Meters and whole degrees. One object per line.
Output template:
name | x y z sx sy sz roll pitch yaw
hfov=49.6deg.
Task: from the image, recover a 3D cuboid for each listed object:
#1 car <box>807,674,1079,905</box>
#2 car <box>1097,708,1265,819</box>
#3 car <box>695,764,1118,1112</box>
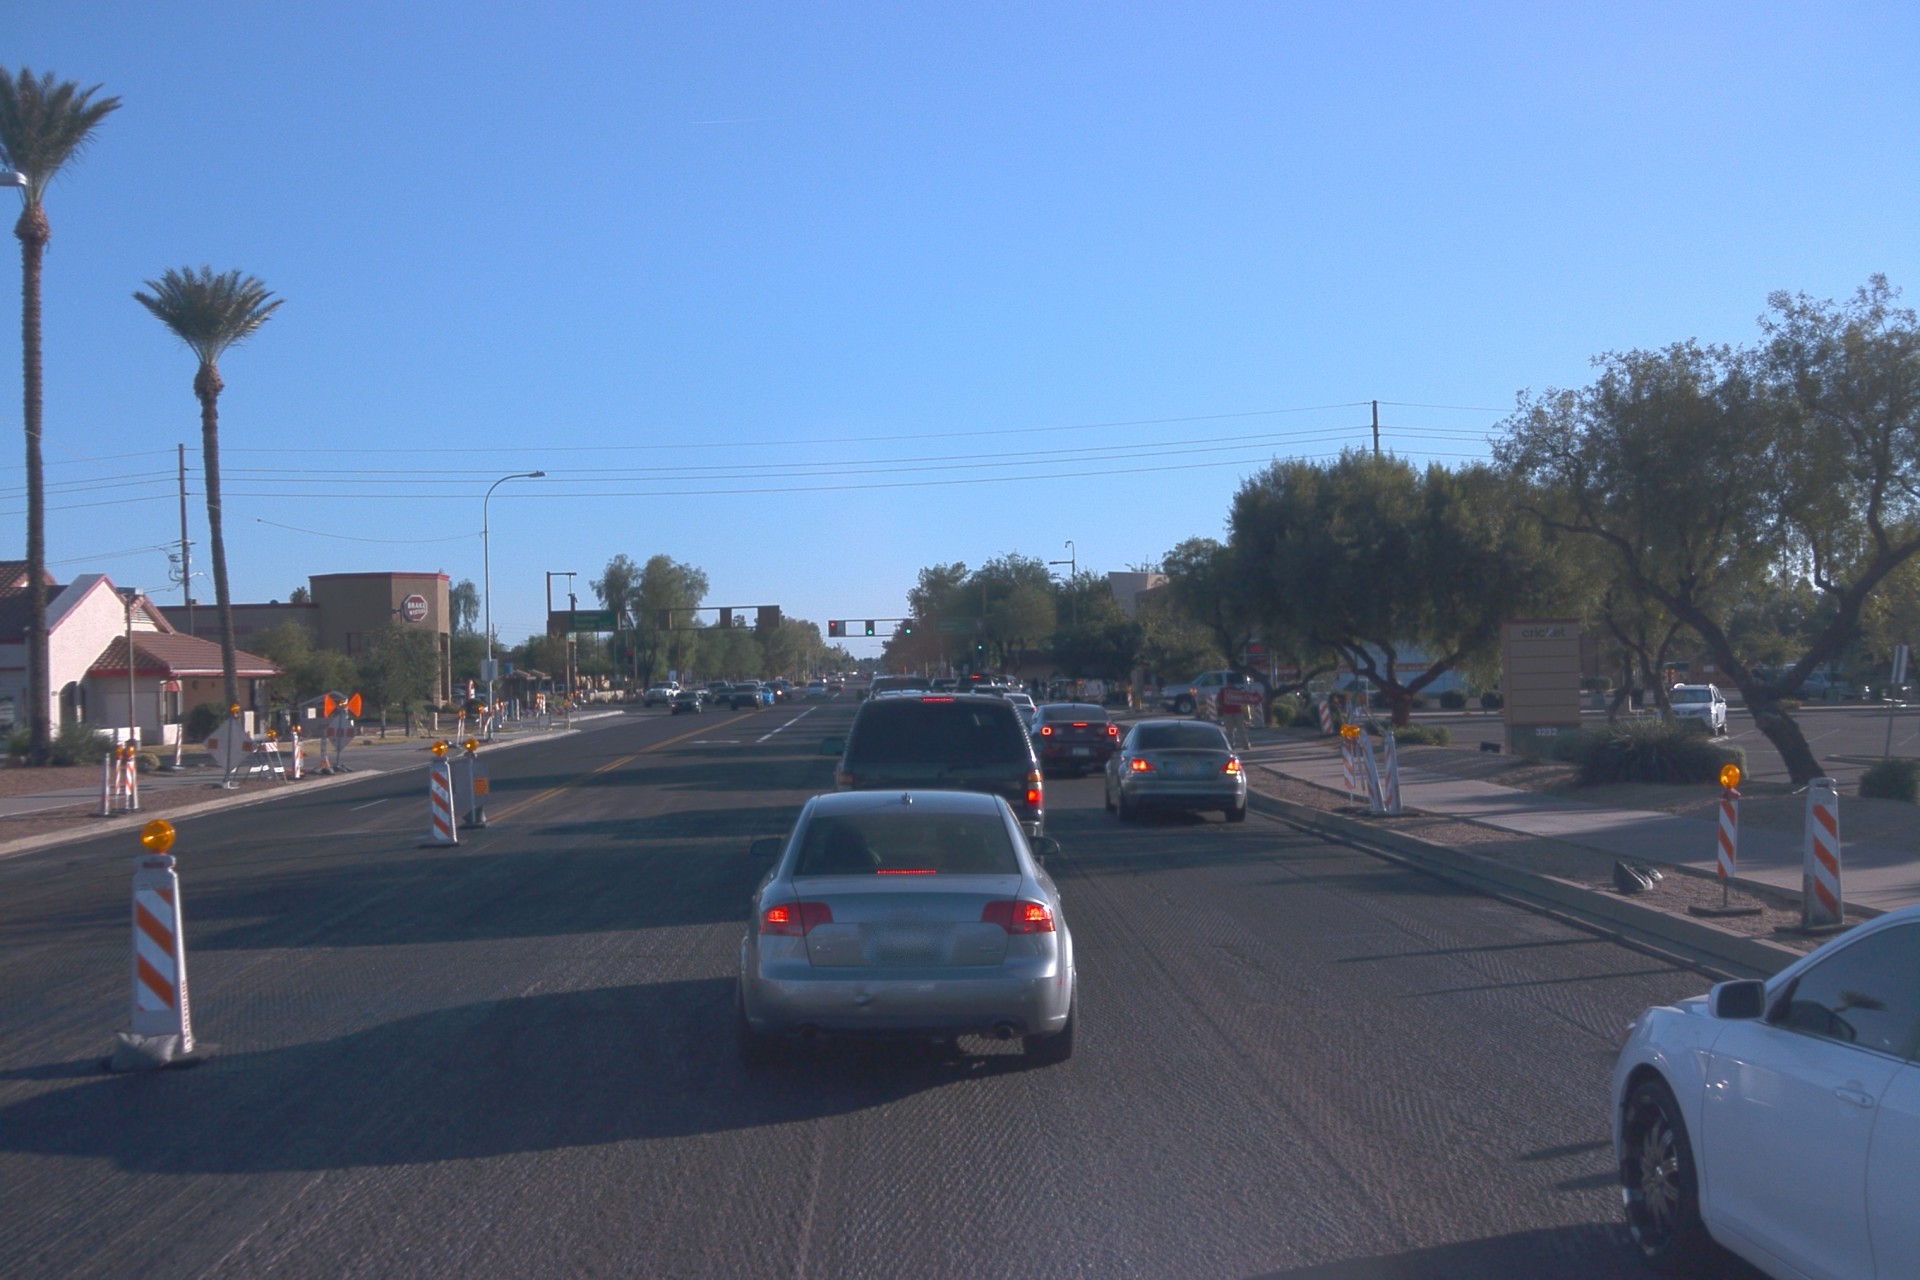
car | -0.249 1.364 20.936 2.404 2.040 5.063 0 -1 -2
car | 3.106 1.722 30.013 1.992 1.410 4.327 0 -1 1
car | -0.305 1.565 12.219 2.033 1.480 4.403 0 -1 -1
